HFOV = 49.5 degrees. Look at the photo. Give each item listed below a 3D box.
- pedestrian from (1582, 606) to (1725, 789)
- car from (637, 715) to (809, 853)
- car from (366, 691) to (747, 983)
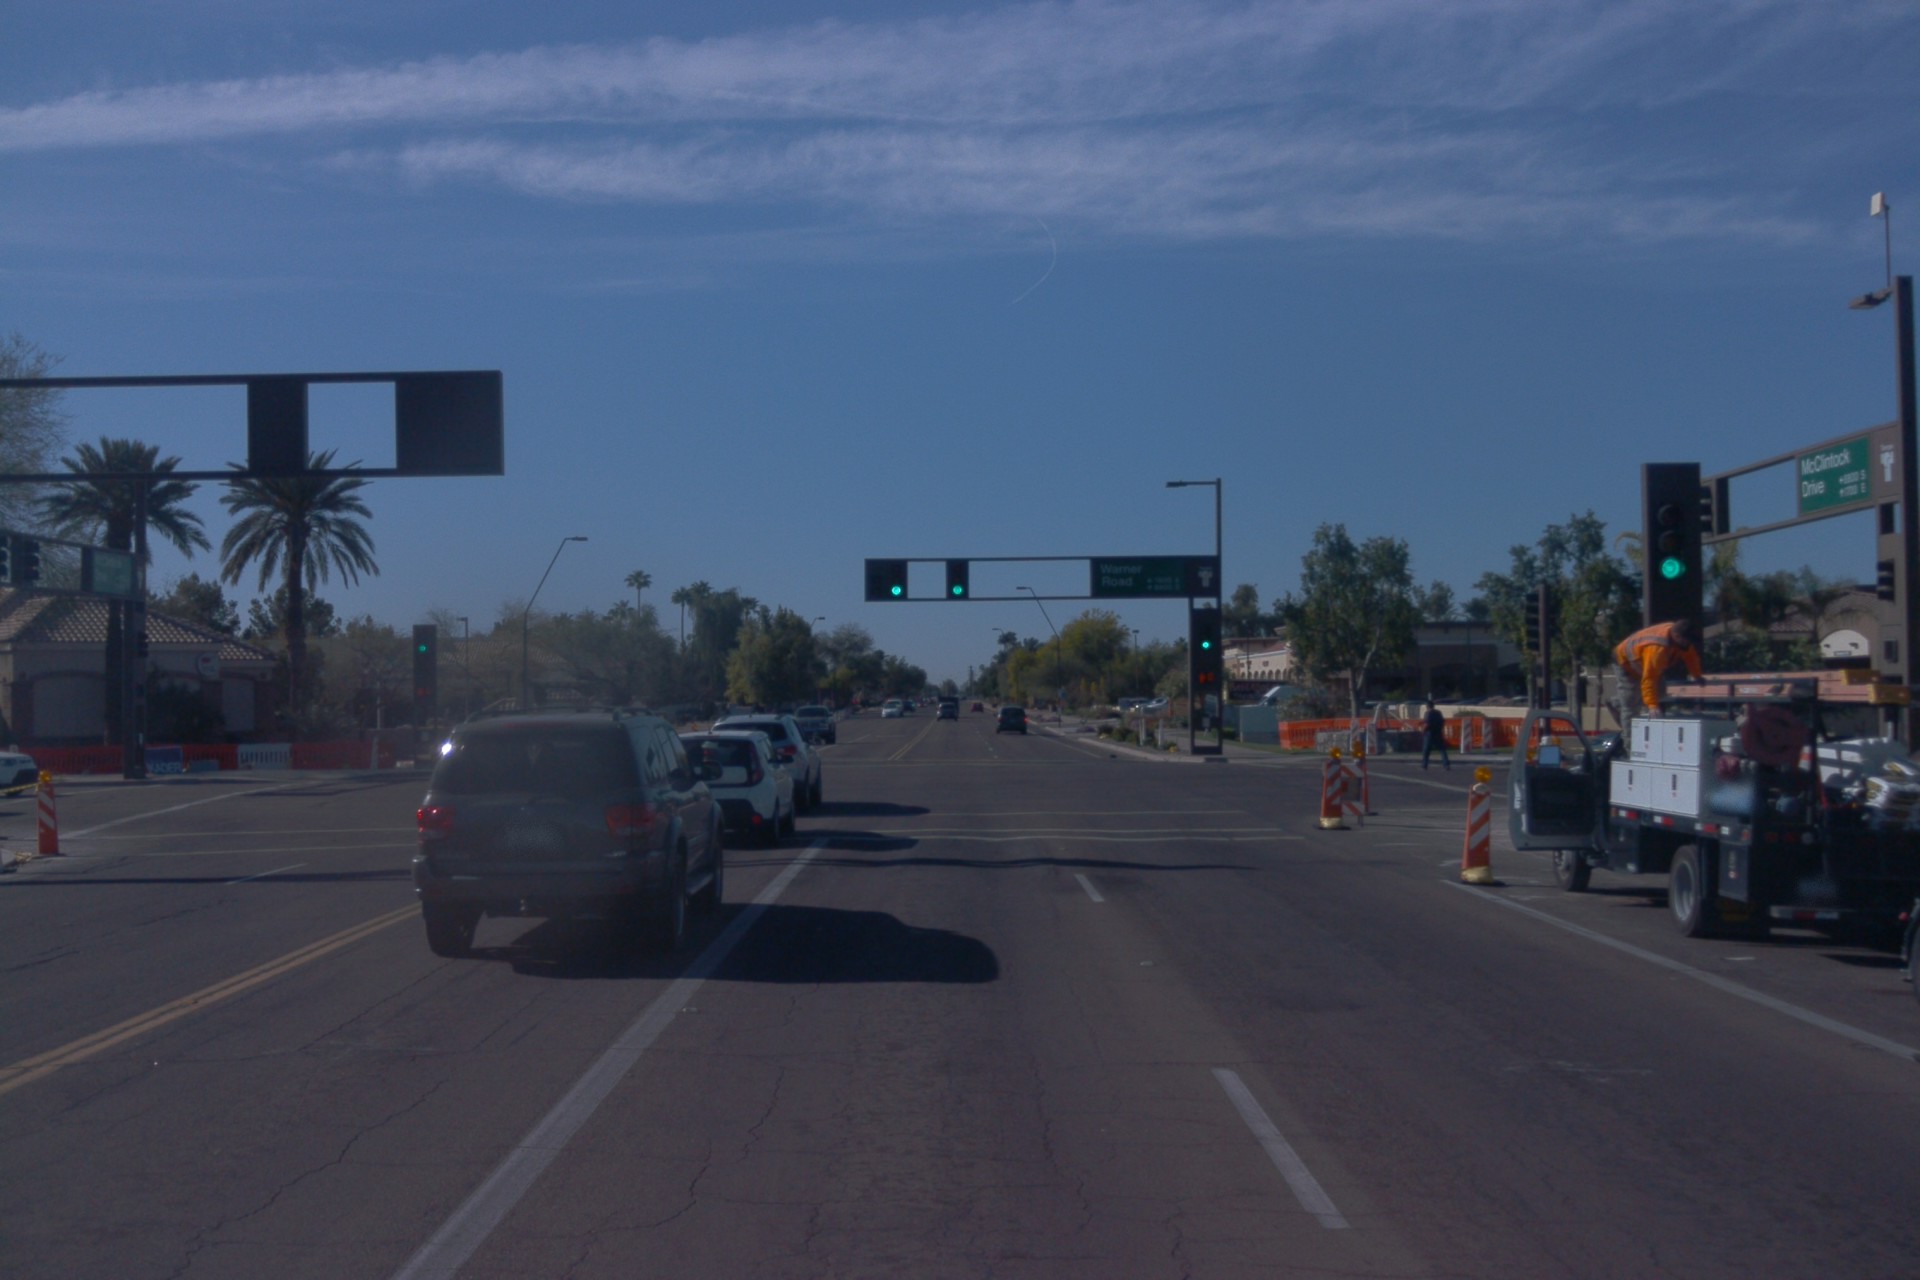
[{"bbox_3d":[6.616,0.543,19.853,0.883,1.690,1.166,-1,-1,43],"label":"pedestrian"},{"bbox_3d":[-3.346,2.019,30.194,2.020,1.780,4.419,0,-1,0],"label":"car"},{"bbox_3d":[-3.204,1.493,17.784,2.283,2.090,5.331,0,-1,-1],"label":"car"}]
